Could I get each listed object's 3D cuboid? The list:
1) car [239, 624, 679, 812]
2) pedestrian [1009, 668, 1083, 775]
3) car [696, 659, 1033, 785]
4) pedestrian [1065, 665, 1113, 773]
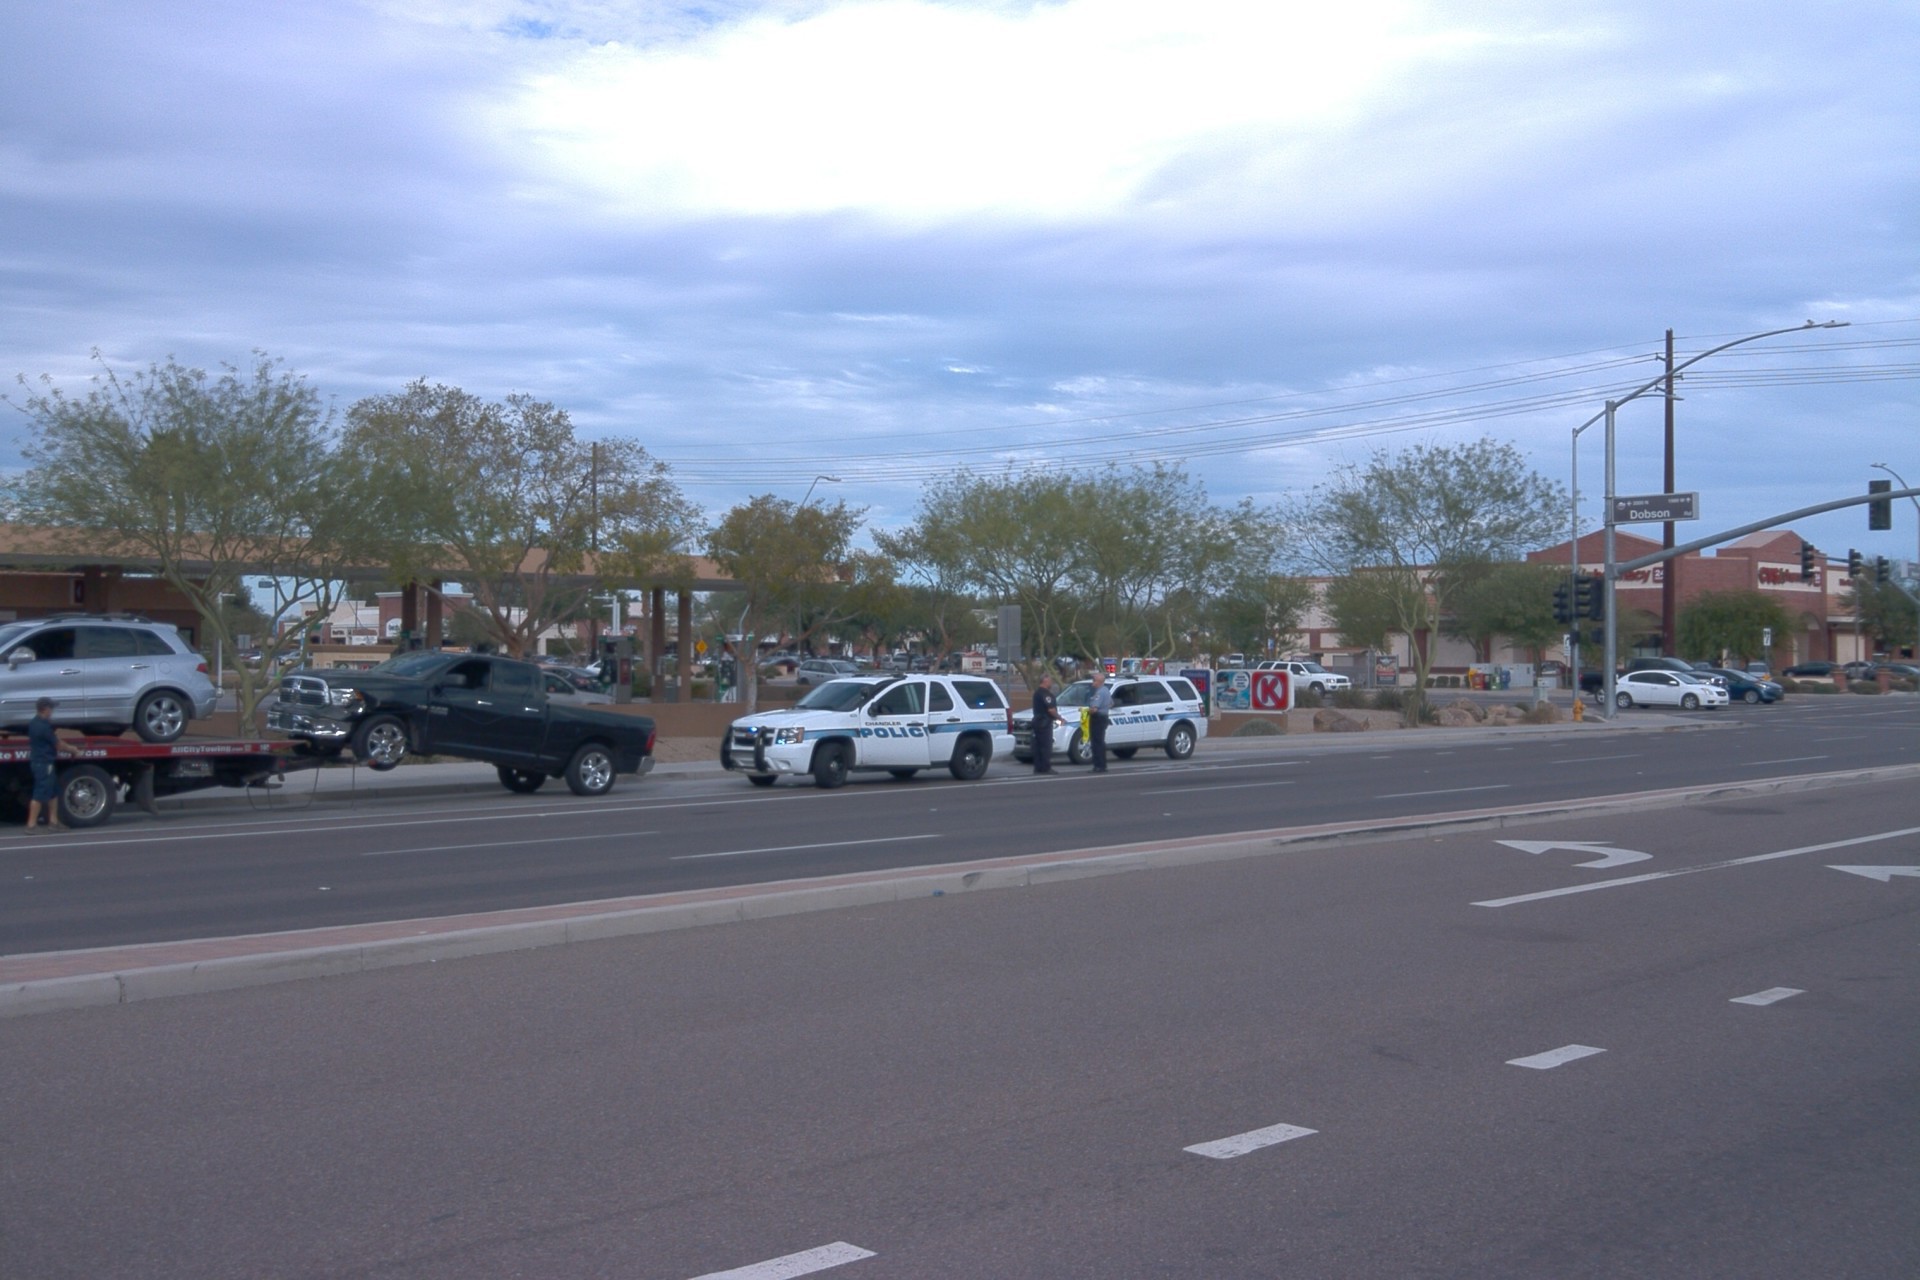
[{"bbox_3d":[-7.354,1.075,31.126,2.540,2.510,5.971,1,0,42],"label":"car"},{"bbox_3d":[1.517,1.428,36.820,0.906,1.830,0.964,1,0,-30],"label":"pedestrian"},{"bbox_3d":[-1.516,1.302,34.797,5.441,1.900,2.232,1,0,-43],"label":"car"},{"bbox_3d":[2.316,1.399,37.203,0.763,1.880,0.741,1,0,8],"label":"pedestrian"}]
